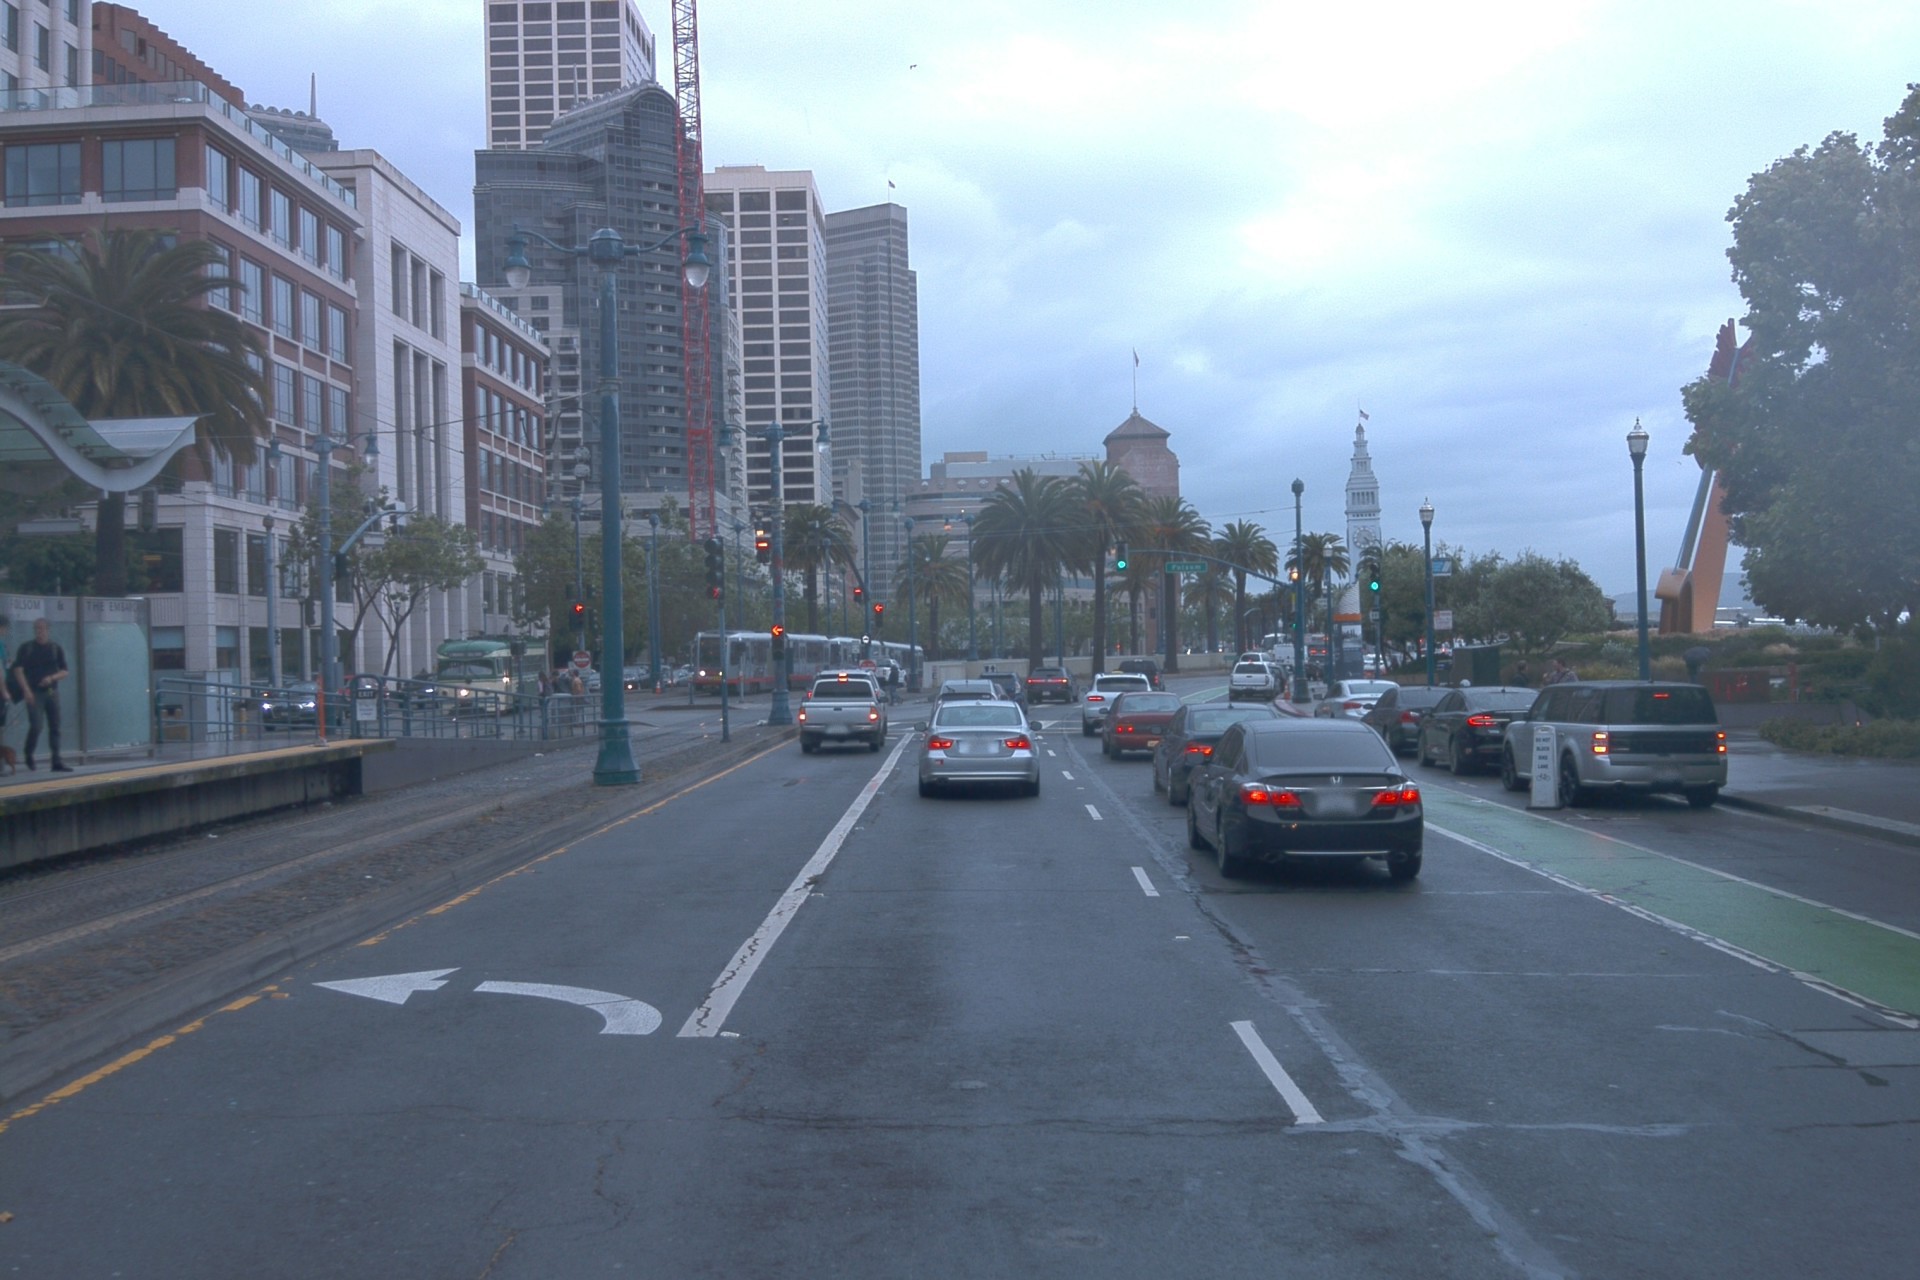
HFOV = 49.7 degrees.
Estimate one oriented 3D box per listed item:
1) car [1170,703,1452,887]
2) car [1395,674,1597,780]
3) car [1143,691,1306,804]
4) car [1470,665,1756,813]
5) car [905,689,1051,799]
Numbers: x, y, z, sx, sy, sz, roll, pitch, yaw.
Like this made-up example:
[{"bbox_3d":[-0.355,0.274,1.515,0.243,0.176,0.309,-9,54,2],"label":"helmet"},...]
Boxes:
[{"bbox_3d":[3.317,1.433,20.550,2.069,1.540,4.627,0,-1,1],"label":"car"},{"bbox_3d":[9.214,1.452,36.110,2.329,1.710,4.832,0,-1,1],"label":"car"},{"bbox_3d":[3.705,1.488,29.741,1.869,1.450,4.344,0,-1,1],"label":"car"},{"bbox_3d":[9.047,1.307,29.306,2.331,1.890,5.290,0,-1,-1],"label":"car"},{"bbox_3d":[0.282,1.535,31.755,2.067,1.510,4.625,0,-1,1],"label":"car"}]
